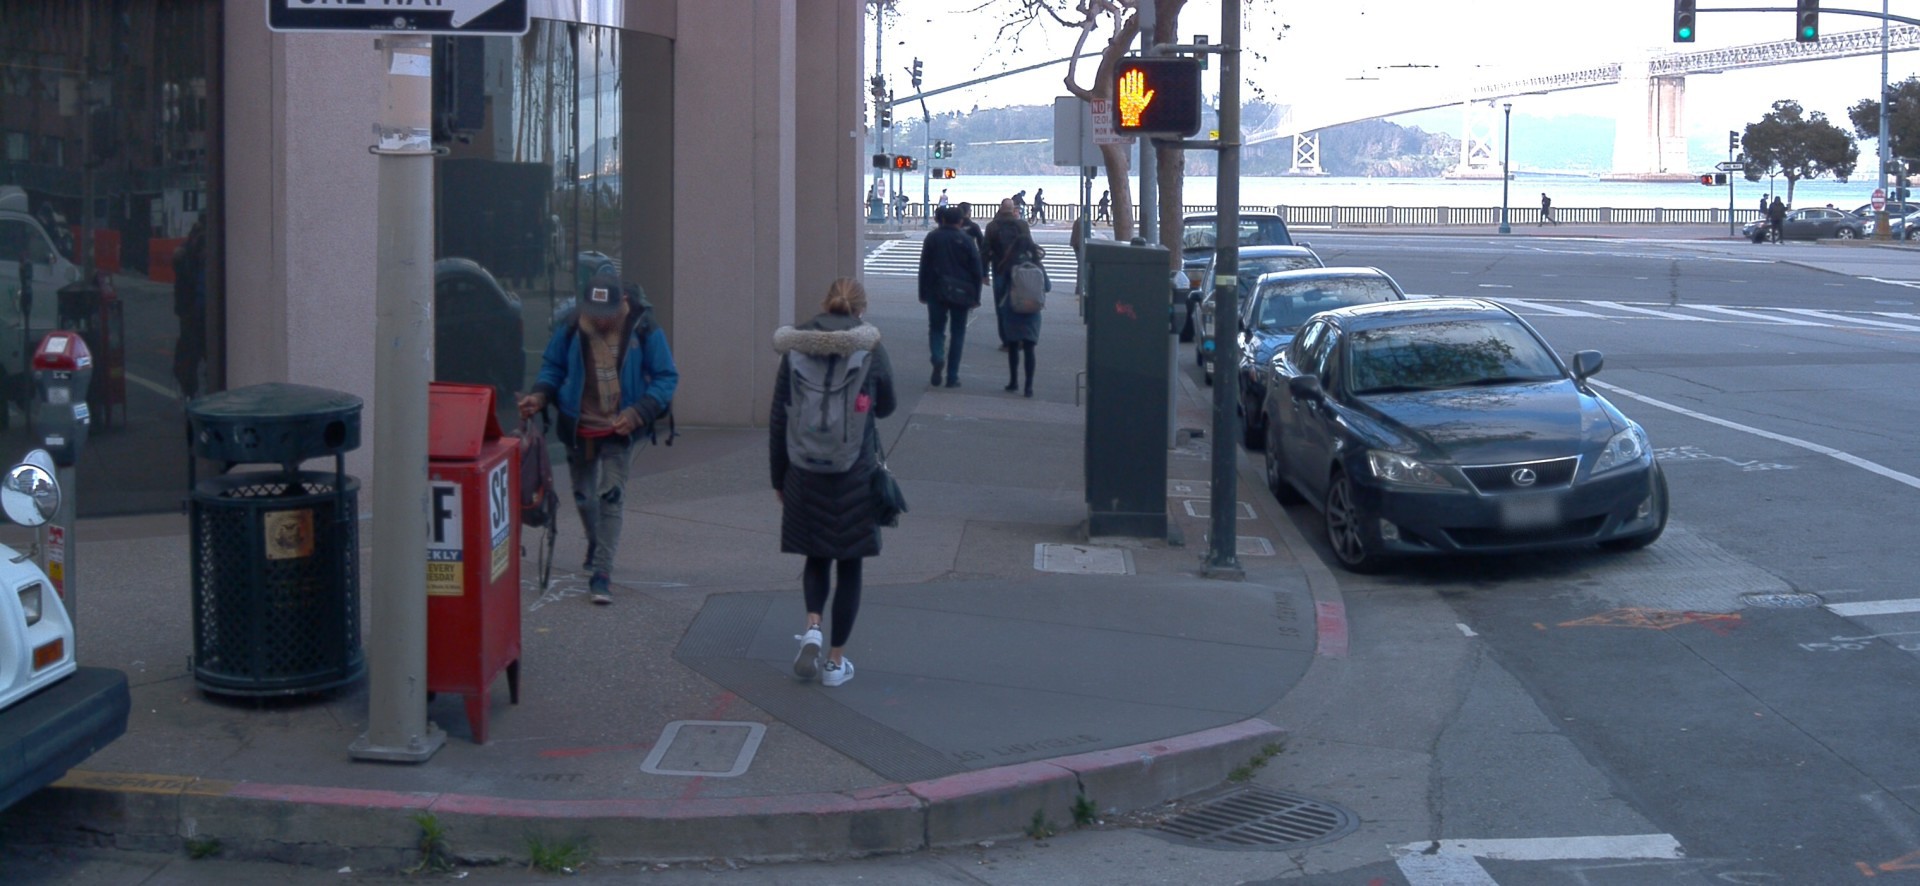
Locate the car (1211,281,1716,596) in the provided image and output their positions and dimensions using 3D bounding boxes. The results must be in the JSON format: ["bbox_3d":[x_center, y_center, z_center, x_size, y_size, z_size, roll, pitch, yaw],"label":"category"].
[{"bbox_3d":[3.015,-0.214,13.489,2.078,1.501,4.783,0,6,-1],"label":"car"}]

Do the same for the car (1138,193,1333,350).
[{"bbox_3d":[4.116,-2.725,31.554,2.438,2.218,4.887,0,6,1],"label":"car"}]

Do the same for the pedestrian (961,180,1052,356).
[{"bbox_3d":[0.545,-2.123,24.638,1.012,2.044,1.356,0,3,-2],"label":"pedestrian"}]

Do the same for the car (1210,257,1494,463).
[{"bbox_3d":[3.508,-0.901,19.274,2.122,1.531,4.772,0,6,5],"label":"car"}]

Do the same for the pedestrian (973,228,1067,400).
[{"bbox_3d":[0.565,-1.259,19.724,0.873,1.586,1.034,0,3,0],"label":"pedestrian"}]

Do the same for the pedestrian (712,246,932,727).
[{"bbox_3d":[-0.532,0.116,8.371,0.806,1.805,1.093,0,3,1],"label":"pedestrian"}]

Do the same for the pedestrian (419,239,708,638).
[{"bbox_3d":[-1.853,-0.077,9.826,1.181,1.764,1.184,0,3,-2],"label":"pedestrian"}]

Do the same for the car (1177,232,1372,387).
[{"bbox_3d":[3.697,-1.686,24.771,1.889,1.641,4.065,0,6,2],"label":"car"}]

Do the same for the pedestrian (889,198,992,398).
[{"bbox_3d":[-0.172,-1.430,19.805,0.961,1.865,1.349,0,3,1],"label":"pedestrian"}]
